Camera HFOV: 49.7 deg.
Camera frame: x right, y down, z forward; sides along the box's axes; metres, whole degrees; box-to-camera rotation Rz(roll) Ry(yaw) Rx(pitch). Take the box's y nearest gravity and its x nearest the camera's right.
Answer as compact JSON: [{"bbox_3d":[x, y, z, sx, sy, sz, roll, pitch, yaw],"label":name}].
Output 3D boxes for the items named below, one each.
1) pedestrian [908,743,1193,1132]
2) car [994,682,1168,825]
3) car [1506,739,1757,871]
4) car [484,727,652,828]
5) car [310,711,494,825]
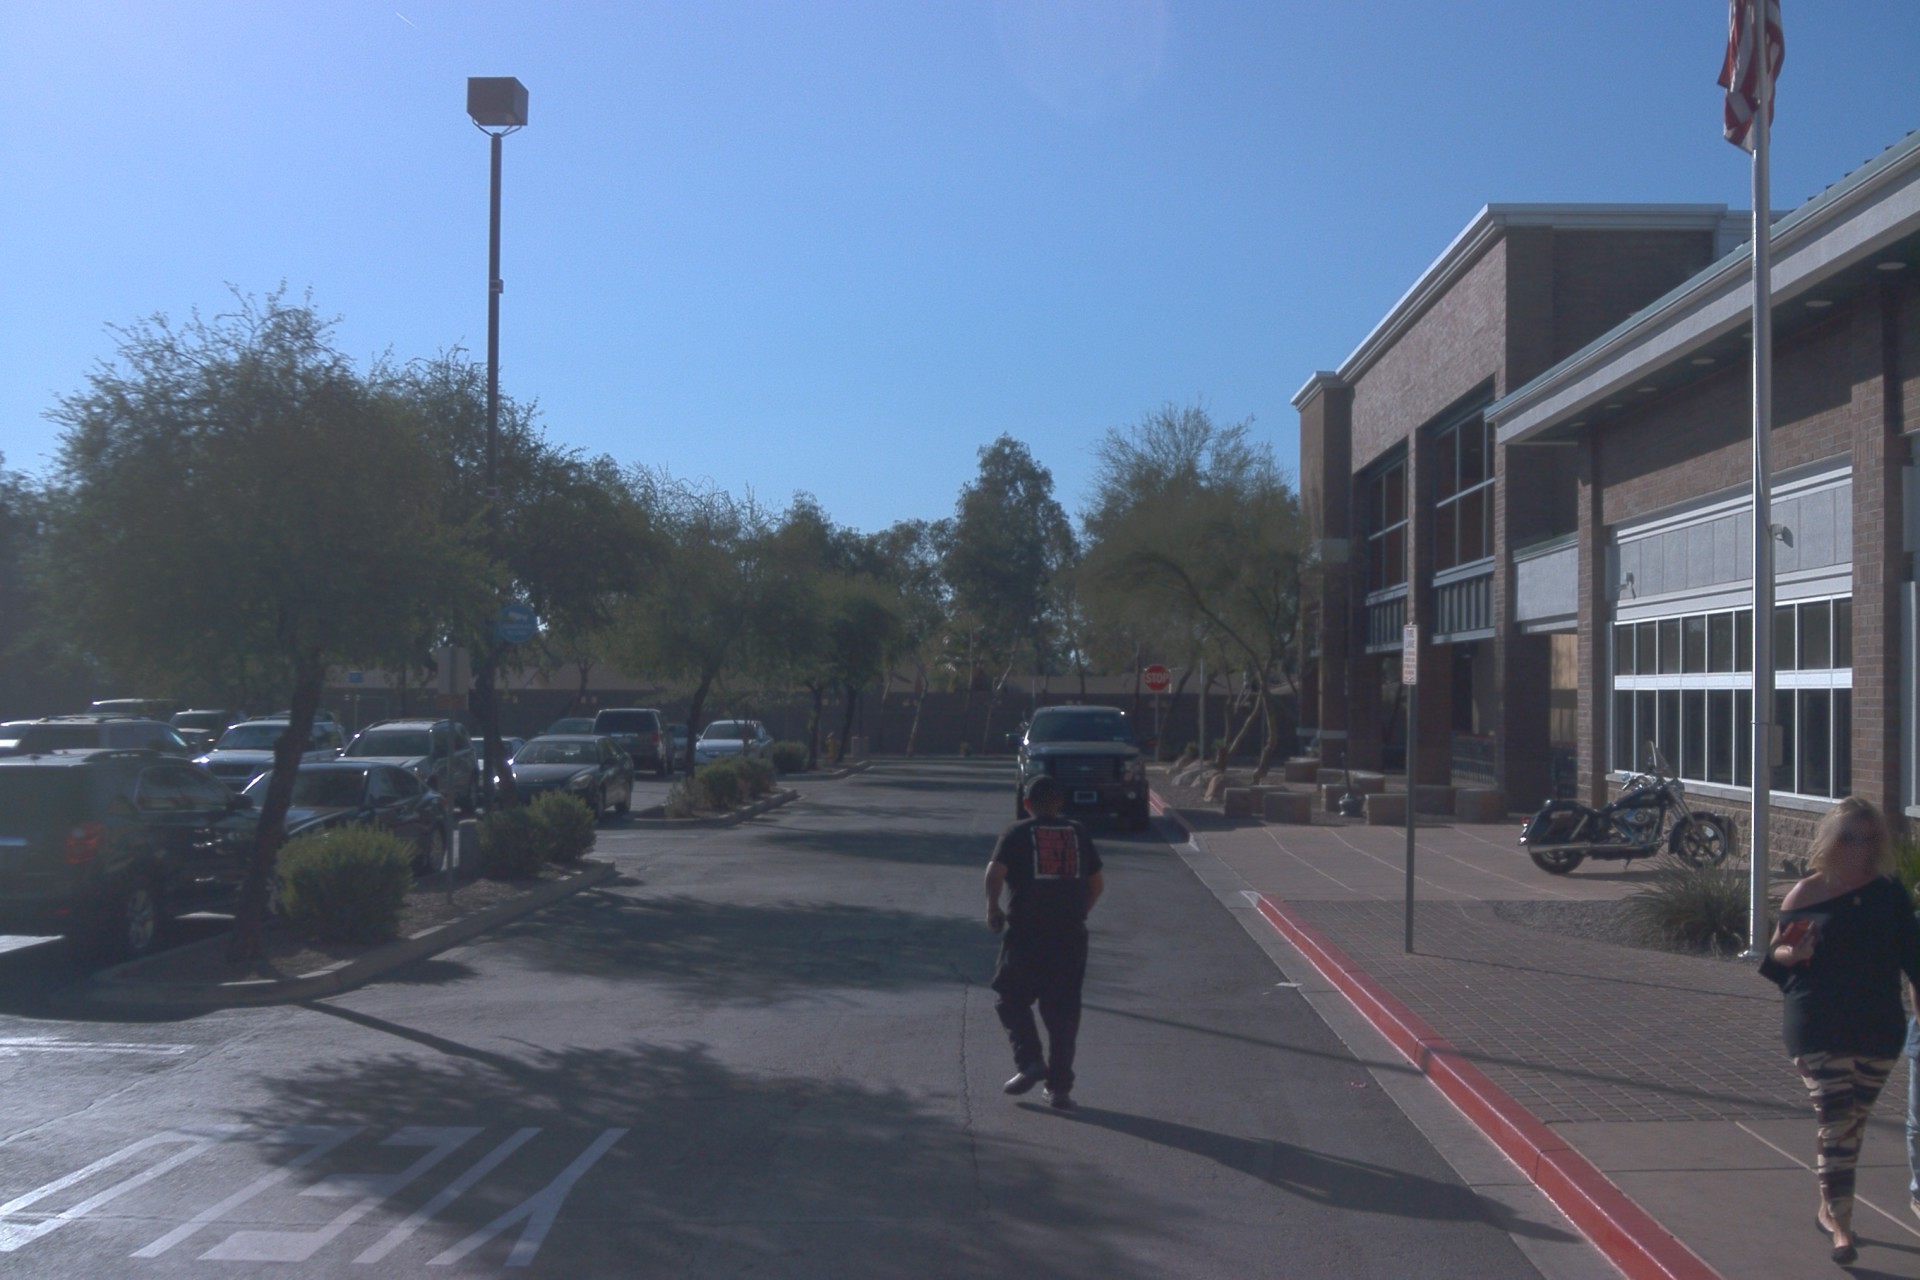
[{"bbox_3d":[0.454,1.503,10.980,1.072,1.870,1.187,0,-1,-23],"label":"pedestrian"},{"bbox_3d":[1.984,1.817,34.794,2.655,2.190,5.664,-1,-1,2],"label":"car"},{"bbox_3d":[7.570,1.858,23.503,2.509,1.430,1.043,-1,-1,5],"label":"car"},{"bbox_3d":[-6.809,2.360,36.536,1.931,1.560,4.779,-1,-1,2],"label":"car"},{"bbox_3d":[-9.739,2.197,36.573,1.886,1.820,4.571,-1,-1,2],"label":"car"}]
